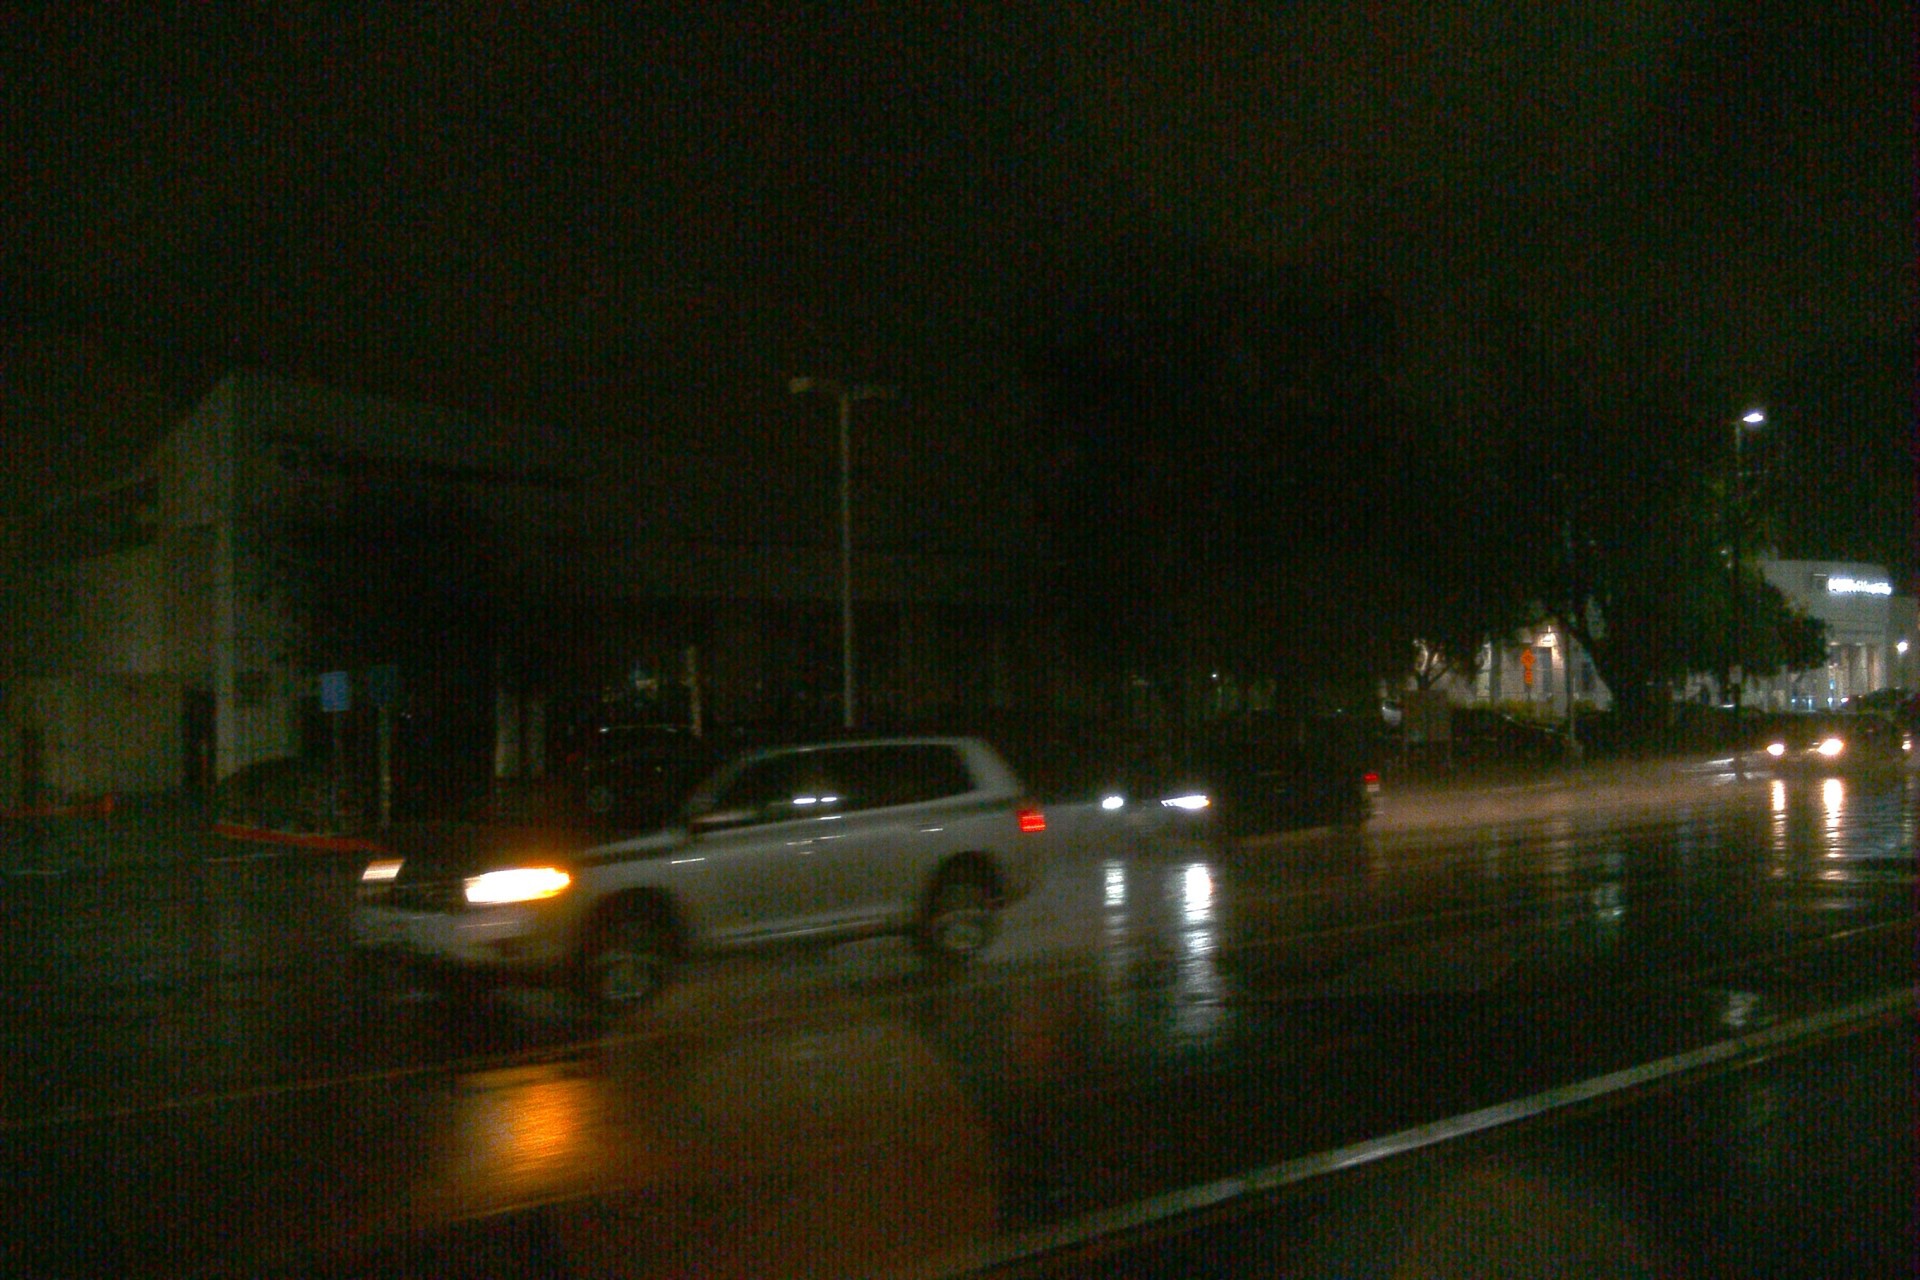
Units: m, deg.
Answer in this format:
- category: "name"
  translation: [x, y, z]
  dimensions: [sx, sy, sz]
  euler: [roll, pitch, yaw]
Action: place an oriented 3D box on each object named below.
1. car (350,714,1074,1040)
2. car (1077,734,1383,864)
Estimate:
- category: "car"
  translation: [-1.577, 1.480, 14.731]
  dimensions: [2.126, 1.770, 4.785]
  euler: [0, 0, 44]
- category: "car"
  translation: [3.820, 2.149, 29.158]
  dimensions: [4.362, 1.510, 1.903]
  euler: [1, 0, -44]
